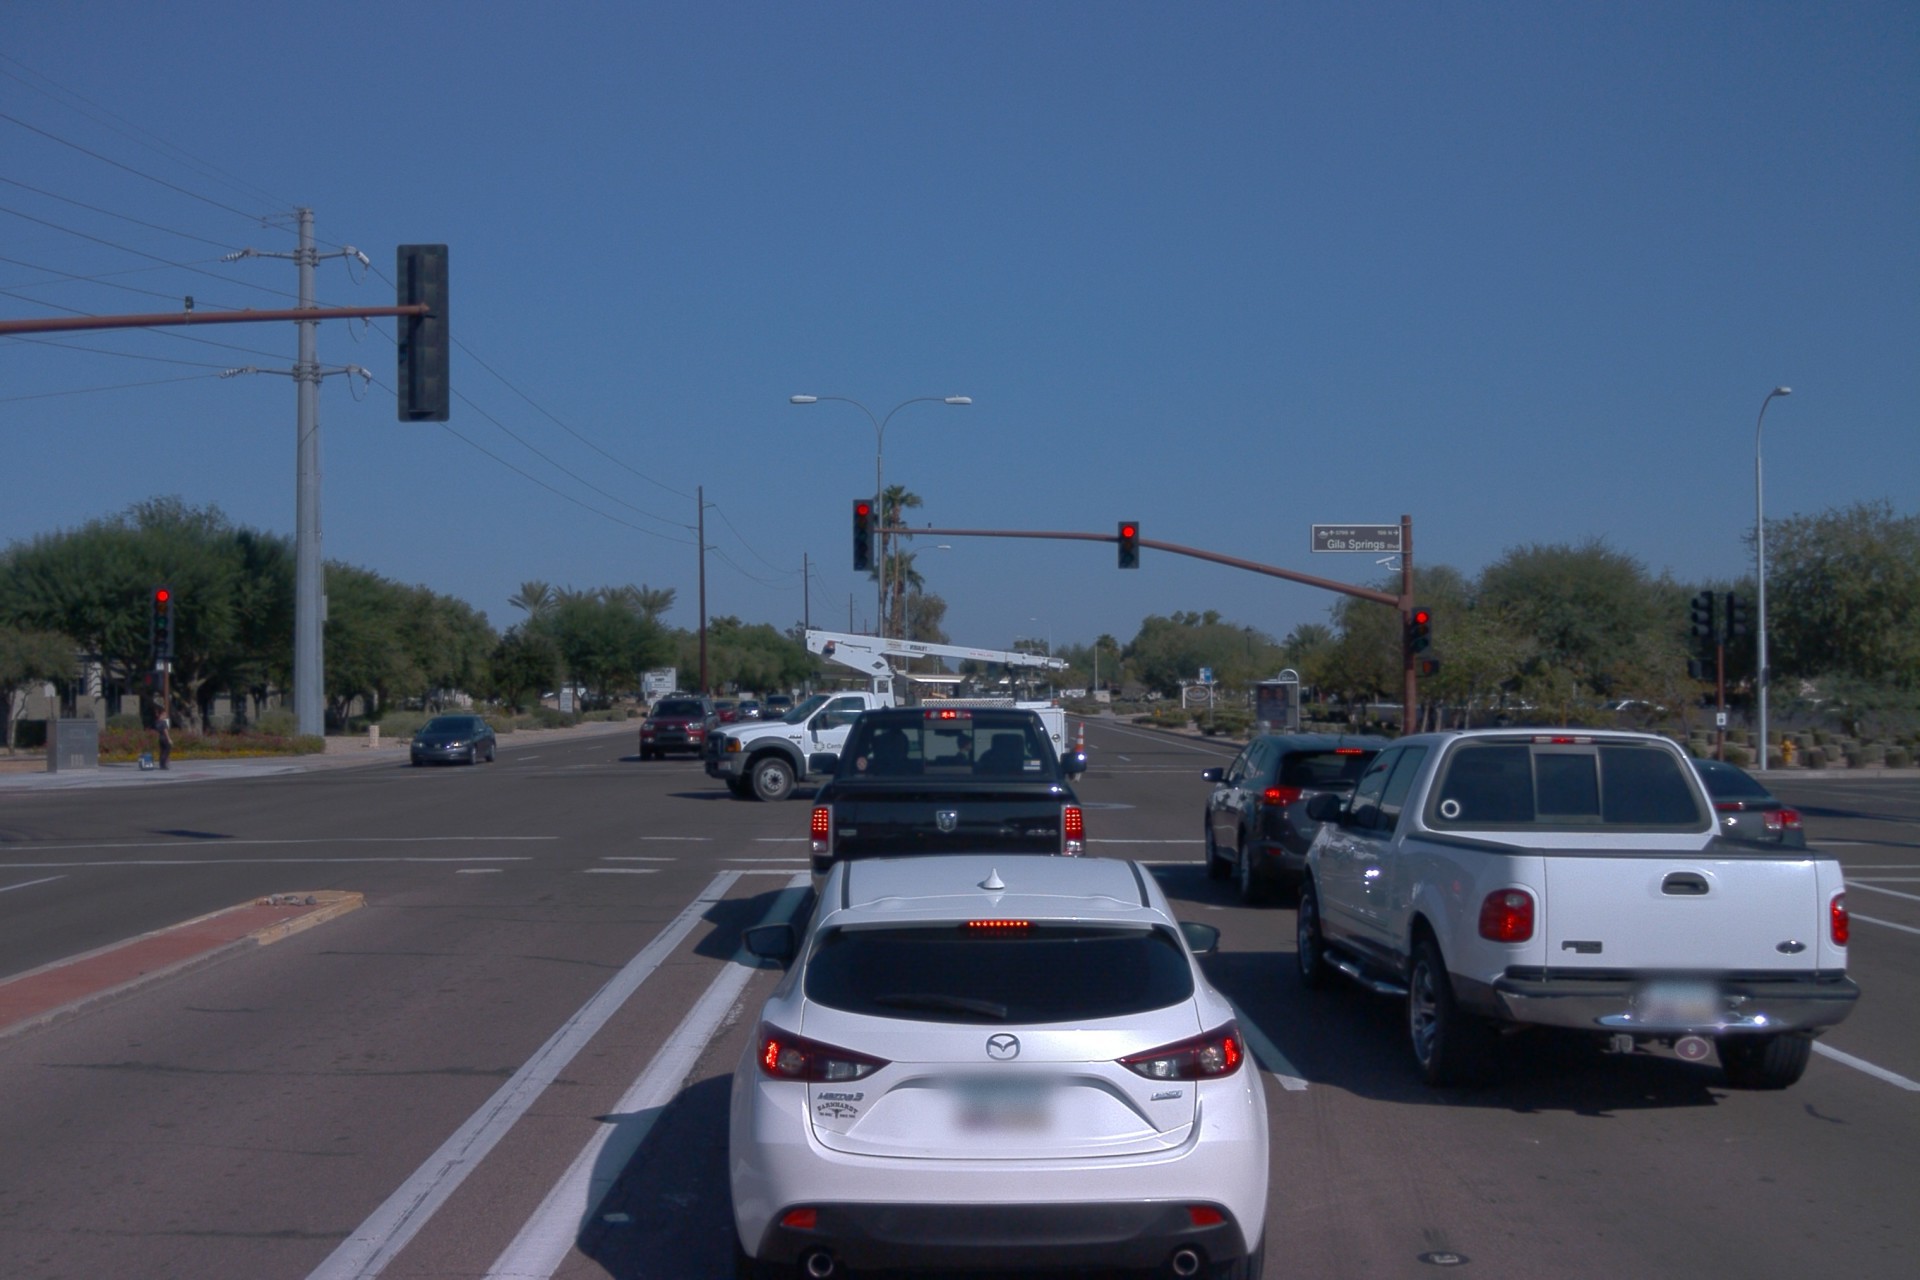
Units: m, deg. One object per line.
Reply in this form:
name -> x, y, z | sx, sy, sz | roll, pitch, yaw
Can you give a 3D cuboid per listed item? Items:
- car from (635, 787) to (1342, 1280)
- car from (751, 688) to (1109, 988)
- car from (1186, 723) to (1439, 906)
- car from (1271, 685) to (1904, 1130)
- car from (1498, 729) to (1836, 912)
car -> 0.088, 1.504, 8.512 | 2.099, 1.600, 4.628 | 0, -1, 0
car -> -0.133, 1.447, 17.029 | 2.500, 2.080, 5.001 | 0, -1, 2
car -> 3.480, 1.693, 21.297 | 1.789, 1.630, 4.213 | 0, -1, -1
car -> 3.340, 1.320, 12.475 | 2.073, 2.070, 5.518 | 0, -1, -1
car -> 6.819, 1.691, 20.626 | 1.828, 1.540, 4.447 | 0, -1, 0
